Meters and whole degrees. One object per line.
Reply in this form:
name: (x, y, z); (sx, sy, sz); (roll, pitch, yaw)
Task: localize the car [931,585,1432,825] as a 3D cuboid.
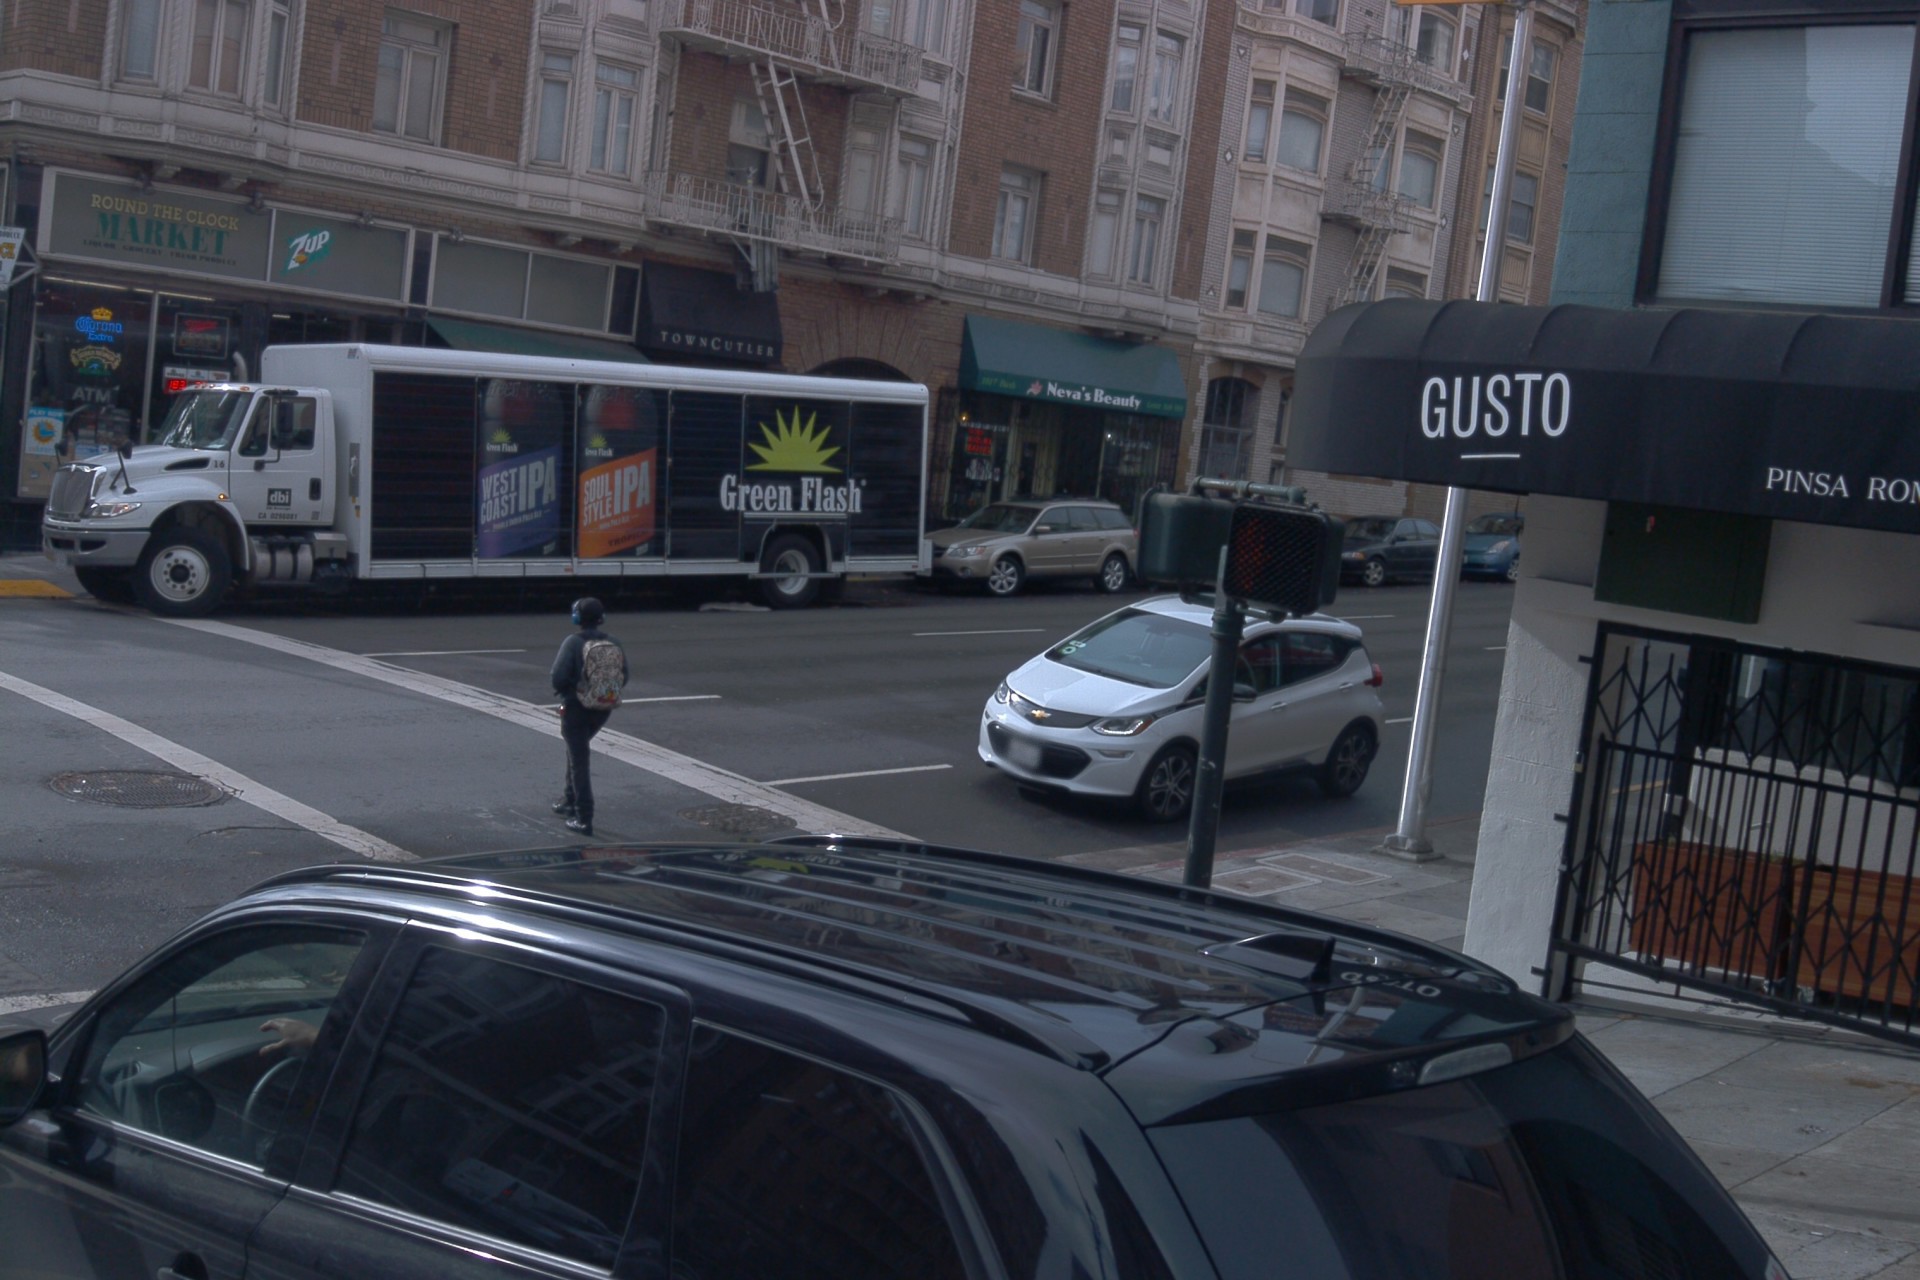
car: (1.993, 0.473, 17.572); (2.062, 1.780, 4.279); (2, 1, 43)

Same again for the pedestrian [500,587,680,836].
pedestrian: (-2.474, 0.451, 13.773); (0.929, 1.590, 0.750); (2, 1, 43)

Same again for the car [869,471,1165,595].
car: (1.008, -1.675, 33.638); (2.182, 1.770, 4.833); (2, 1, 42)
